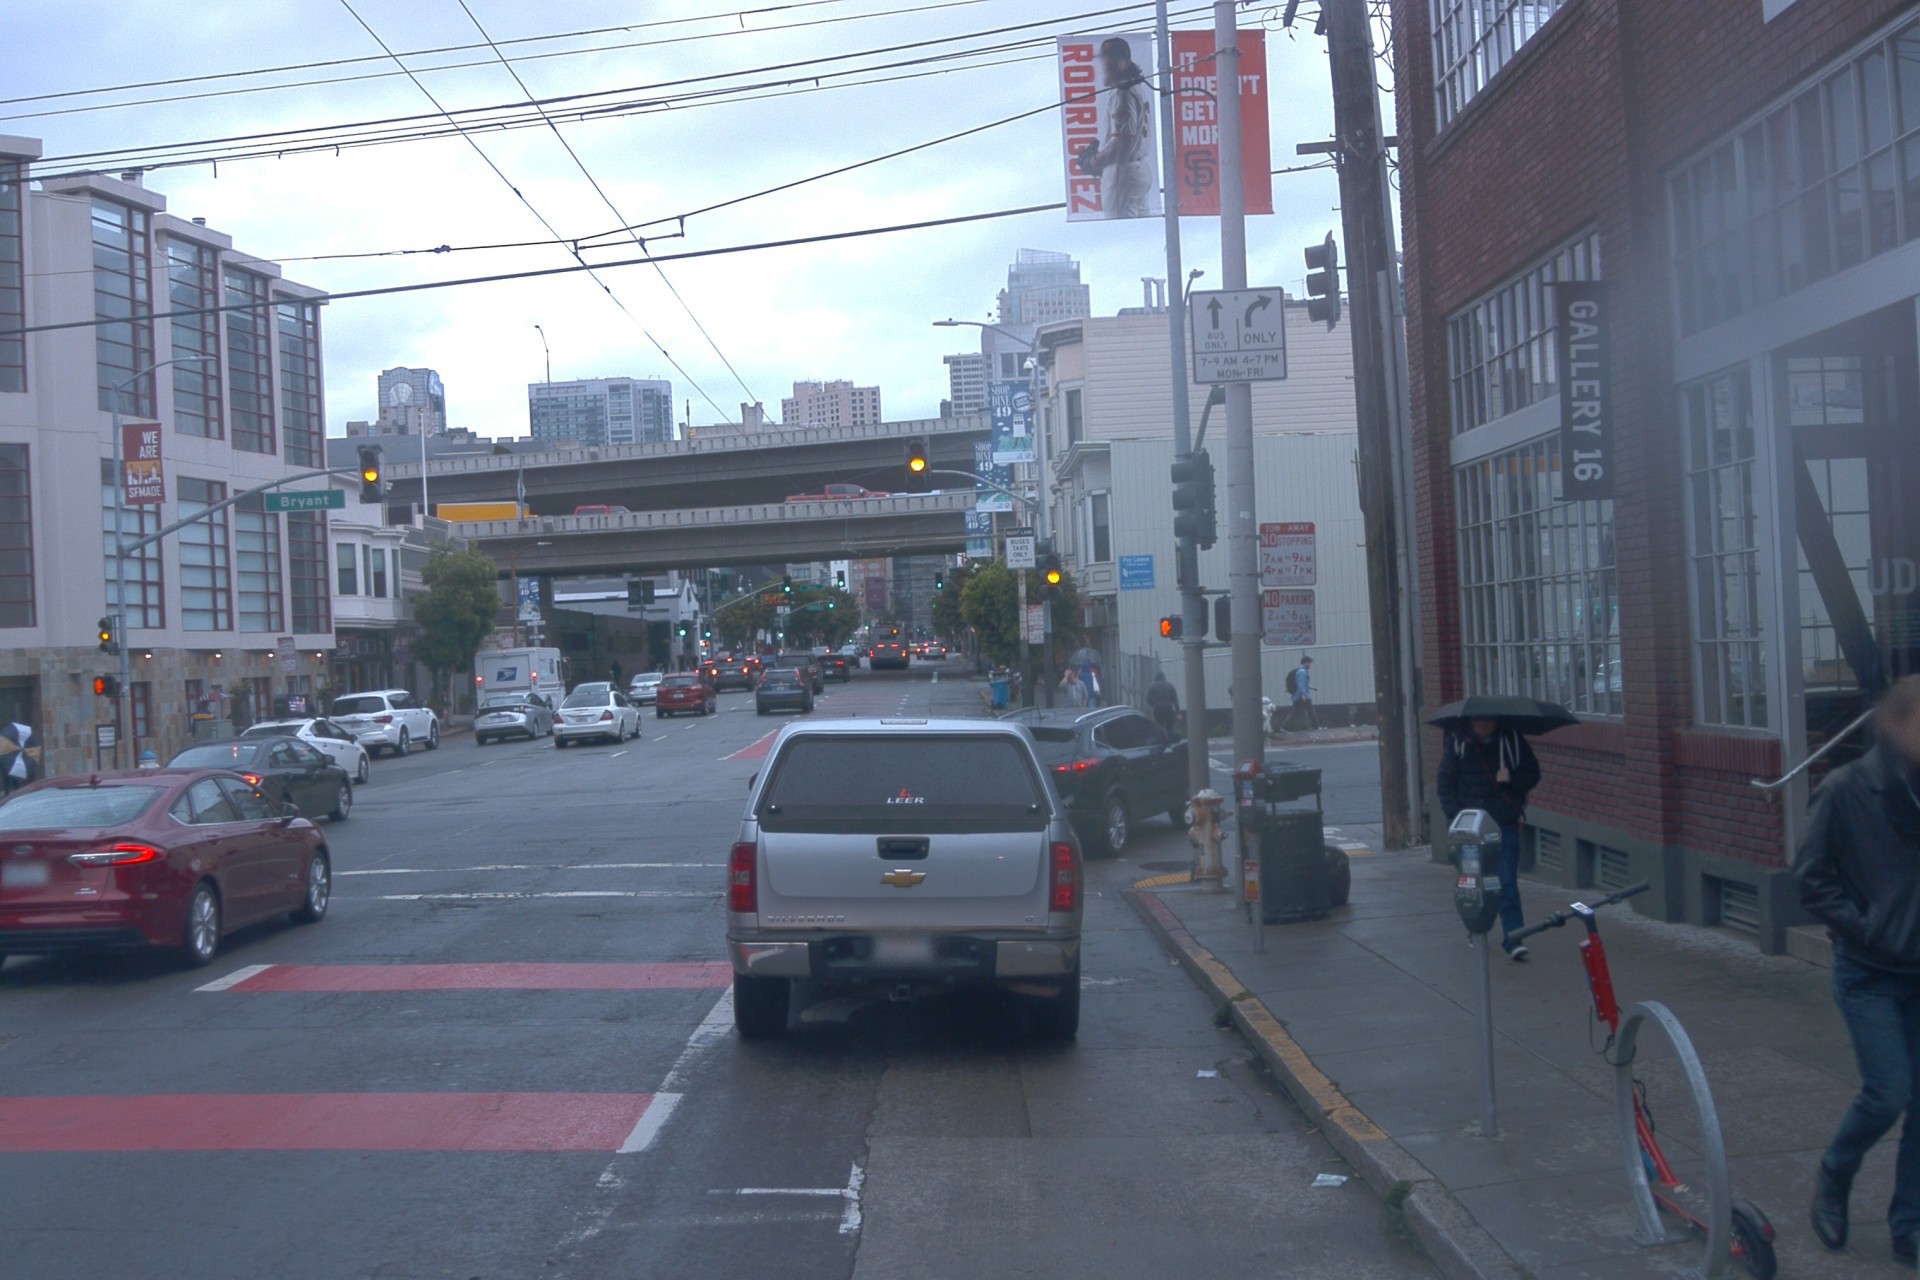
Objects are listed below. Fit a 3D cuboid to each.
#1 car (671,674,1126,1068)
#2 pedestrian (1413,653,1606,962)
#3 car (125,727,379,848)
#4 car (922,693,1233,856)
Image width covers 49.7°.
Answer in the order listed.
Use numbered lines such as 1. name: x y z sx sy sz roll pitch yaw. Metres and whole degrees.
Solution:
1. car: -0.313 1.268 13.776 2.411 2.070 5.547 0 -1 0
2. pedestrian: 3.458 1.026 13.141 1.015 1.870 1.039 0 -1 5
3. car: -9.956 2.035 29.571 1.997 1.440 4.699 0 -1 0
4. car: 1.491 1.484 24.397 2.024 1.670 4.395 -1 -1 27
